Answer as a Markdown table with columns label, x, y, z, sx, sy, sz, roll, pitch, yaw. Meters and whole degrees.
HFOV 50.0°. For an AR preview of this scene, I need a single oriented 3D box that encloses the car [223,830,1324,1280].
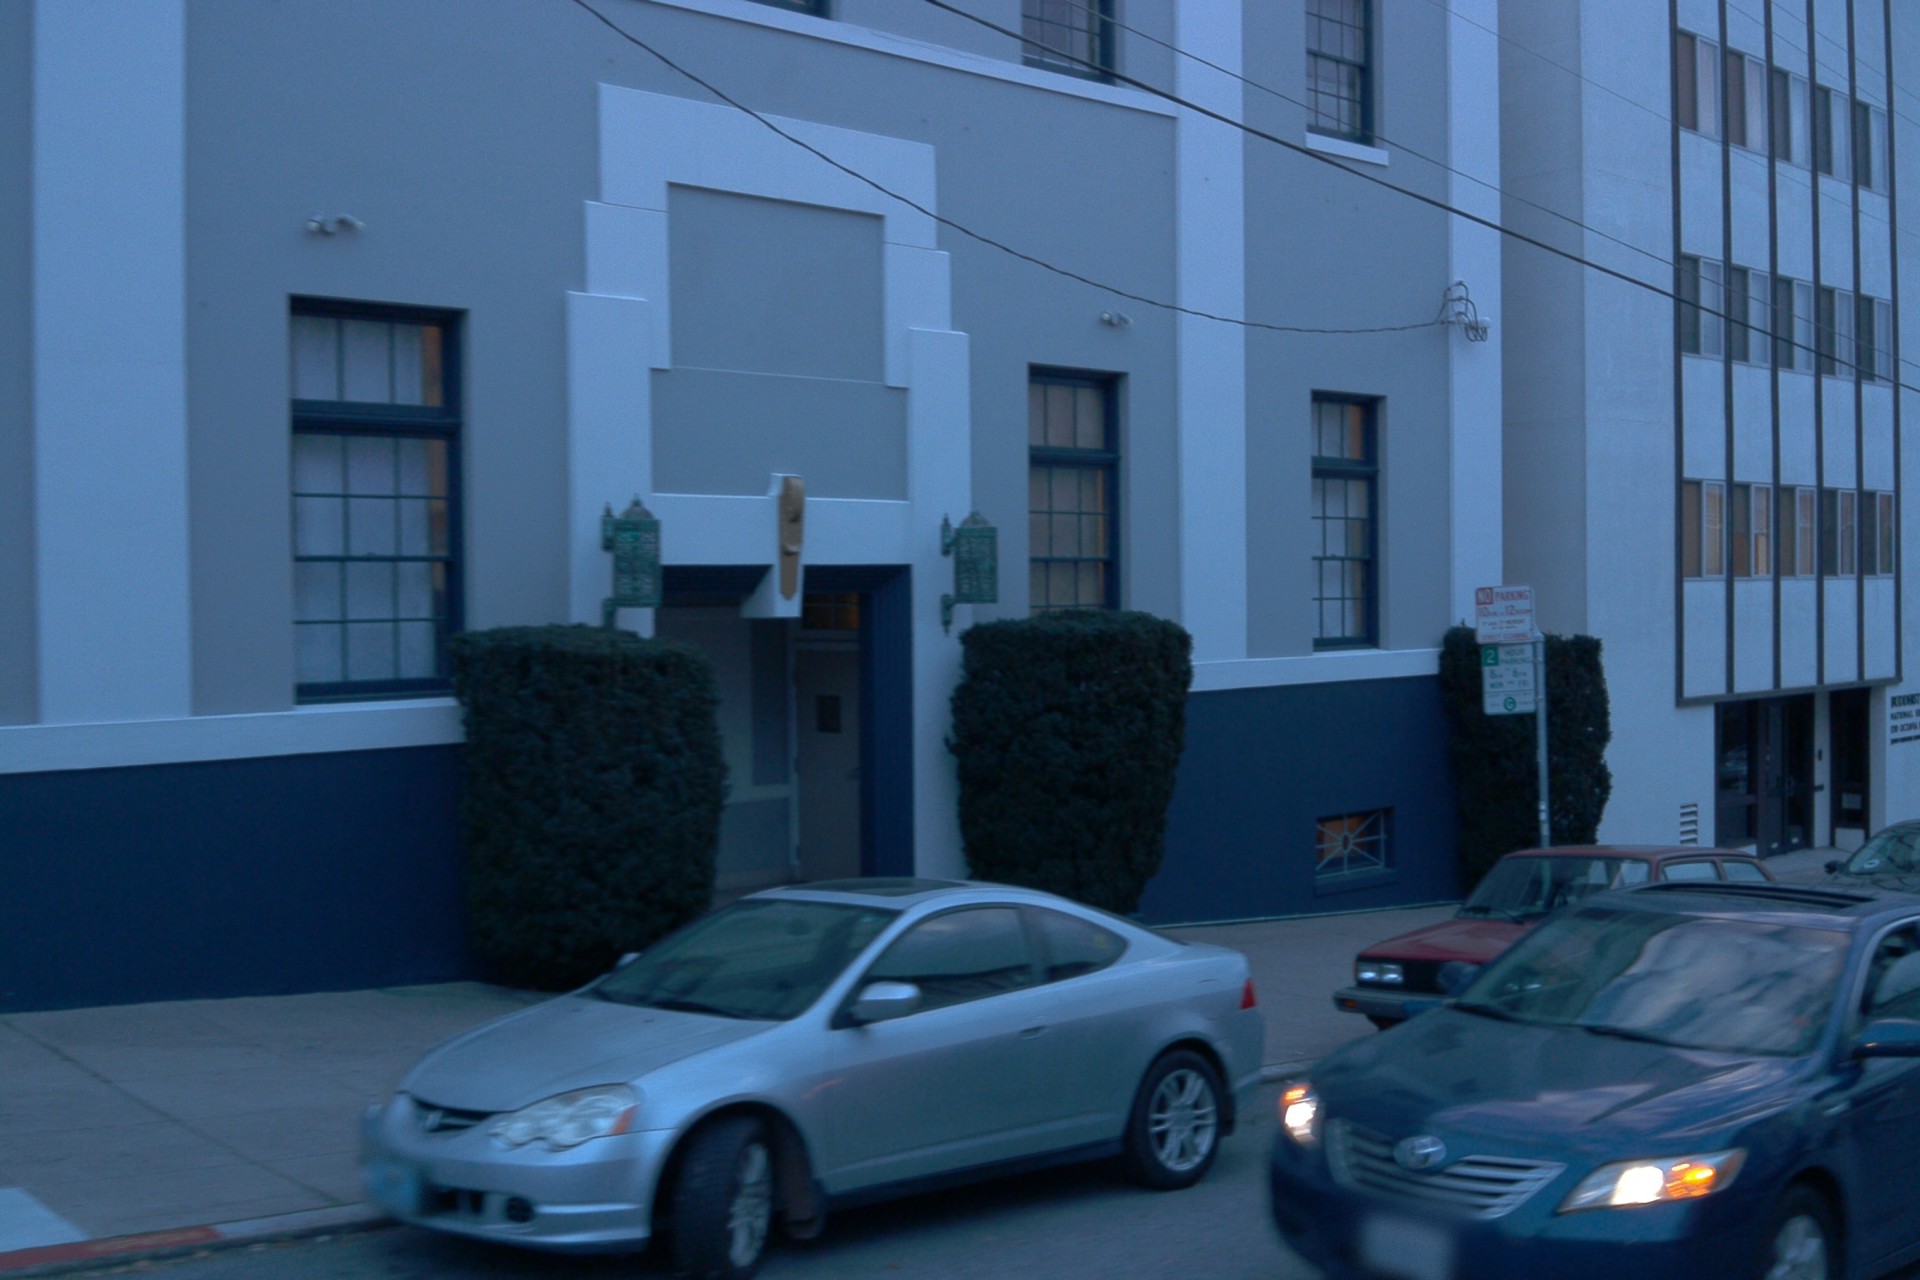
| label | x | y | z | sx | sy | sz | roll | pitch | yaw |
| --- | --- | --- | --- | --- | --- | --- | --- | --- | --- |
| car | -0.577 | 1.764 | 8.778 | 4.404 | 1.450 | 1.989 | 0 | 1 | -44 |

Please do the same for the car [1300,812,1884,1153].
| label | x | y | z | sx | sy | sz | roll | pitch | yaw |
| --- | --- | --- | --- | --- | --- | --- | --- | --- | --- |
| car | 4.286 | 2.074 | 13.522 | 4.414 | 1.480 | 1.771 | 0 | 1 | -45 |
